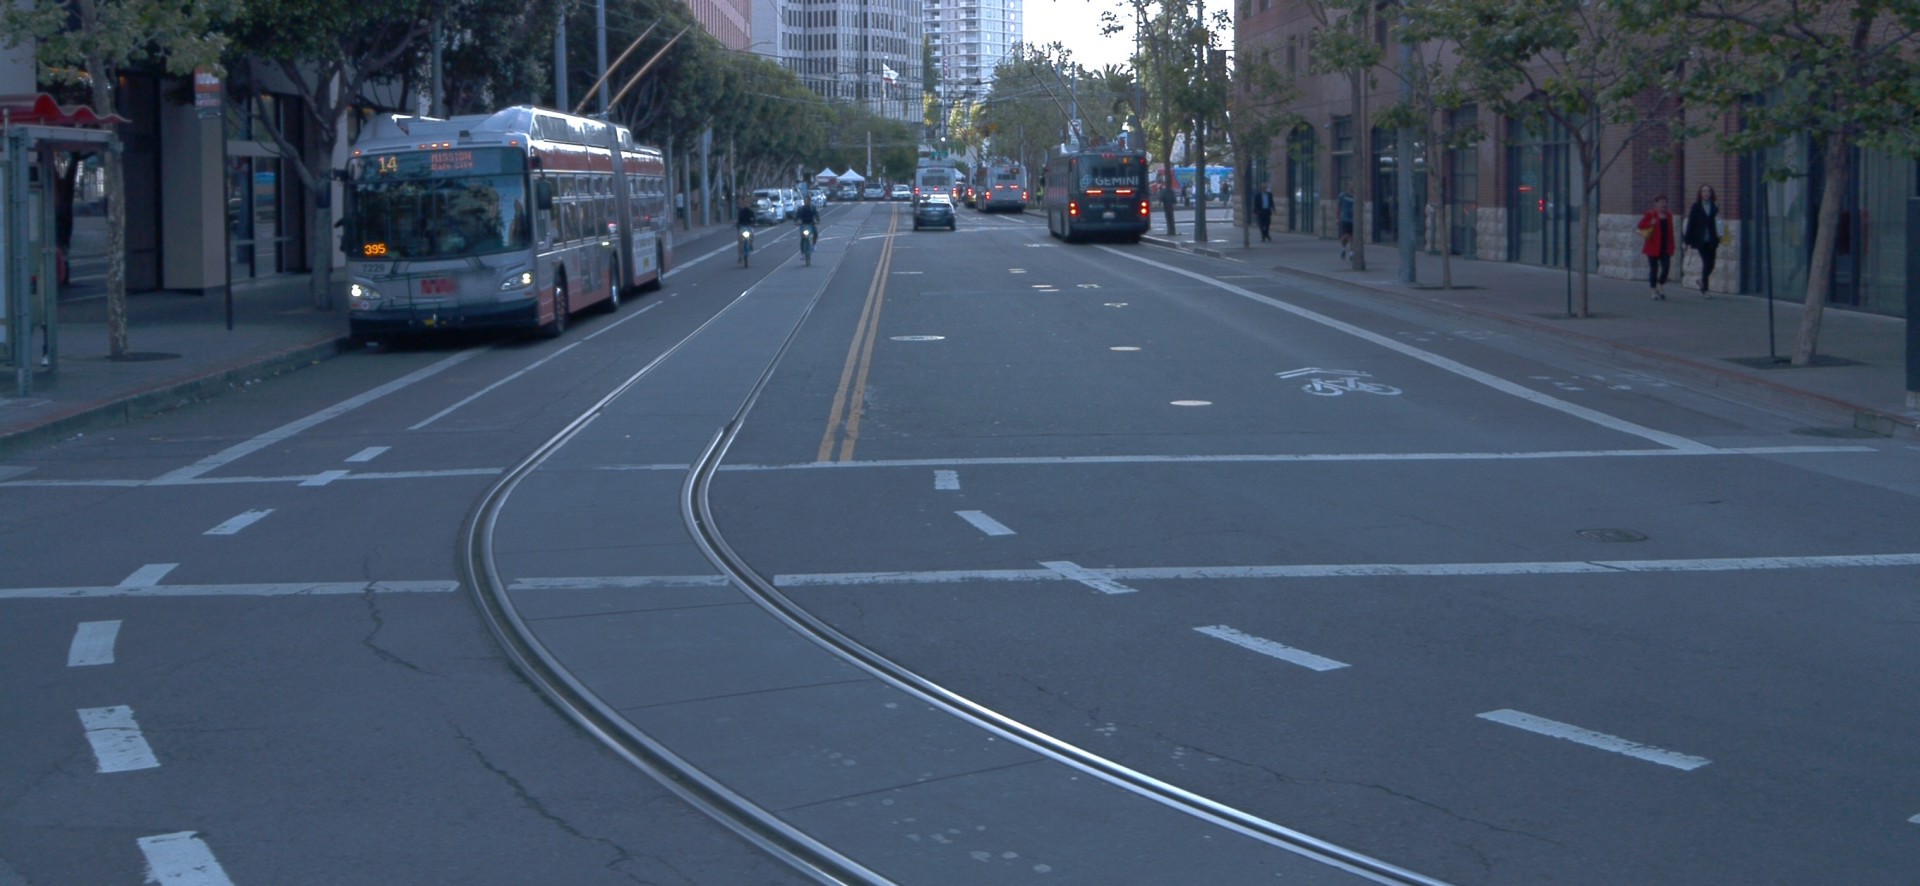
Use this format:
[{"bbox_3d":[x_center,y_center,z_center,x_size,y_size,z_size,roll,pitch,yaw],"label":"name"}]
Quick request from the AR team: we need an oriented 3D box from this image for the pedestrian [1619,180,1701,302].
[{"bbox_3d":[10.518,-3.046,31.063,0.818,1.796,1.047,-1,3,-4],"label":"pedestrian"}]

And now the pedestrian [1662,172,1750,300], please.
[{"bbox_3d":[11.266,-3.136,31.239,0.939,1.896,1.002,-1,2,-2],"label":"pedestrian"}]

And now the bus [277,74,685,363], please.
[{"bbox_3d":[-7.525,-4.015,36.514,3.374,3.731,19.018,-1,6,-2],"label":"bus"}]
